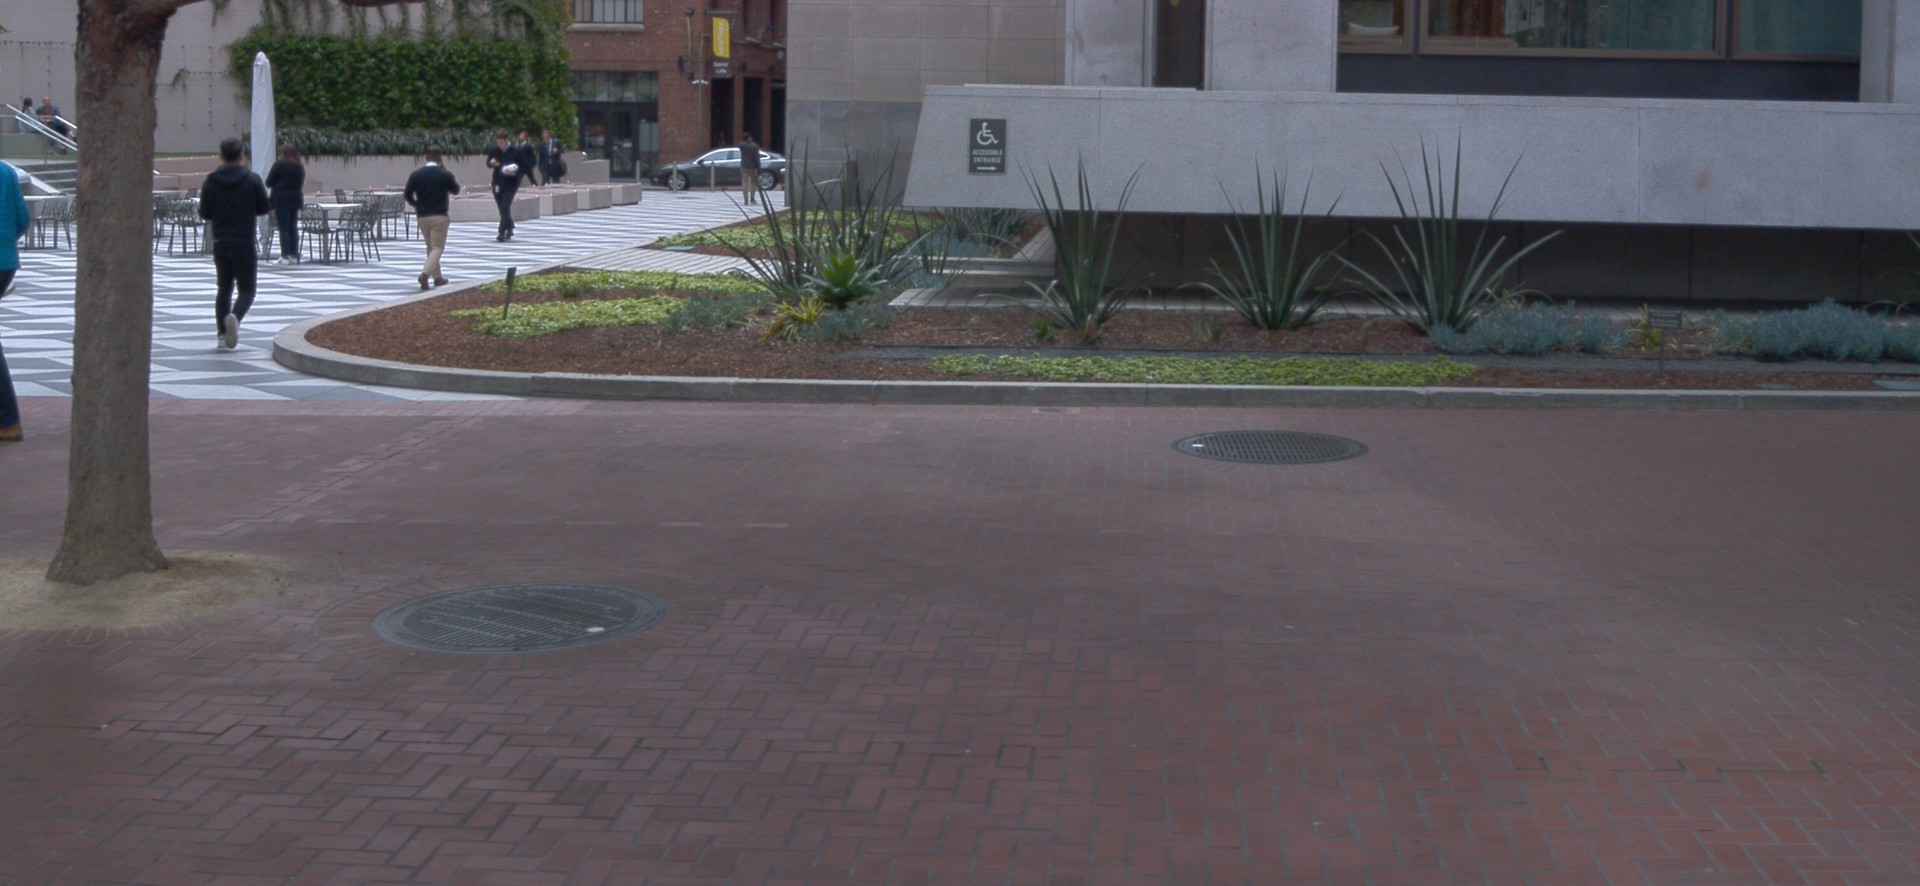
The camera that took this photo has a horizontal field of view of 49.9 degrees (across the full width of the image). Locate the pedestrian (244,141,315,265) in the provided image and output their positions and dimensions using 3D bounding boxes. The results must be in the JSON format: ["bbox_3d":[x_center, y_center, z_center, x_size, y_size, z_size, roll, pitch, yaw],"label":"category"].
[{"bbox_3d":[-8.927,-3.139,27.050,0.655,1.601,0.740,0,1,-40],"label":"pedestrian"}]

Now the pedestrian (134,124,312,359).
[{"bbox_3d":[-6.015,-1.654,16.942,1.253,1.830,1.377,0,2,-15],"label":"pedestrian"}]

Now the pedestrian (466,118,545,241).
[{"bbox_3d":[-7.305,-4.222,33.219,0.996,1.941,1.040,0,1,3],"label":"pedestrian"}]

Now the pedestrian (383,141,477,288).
[{"bbox_3d":[-6.019,-2.592,23.470,0.759,1.640,1.018,0,1,3],"label":"pedestrian"}]
